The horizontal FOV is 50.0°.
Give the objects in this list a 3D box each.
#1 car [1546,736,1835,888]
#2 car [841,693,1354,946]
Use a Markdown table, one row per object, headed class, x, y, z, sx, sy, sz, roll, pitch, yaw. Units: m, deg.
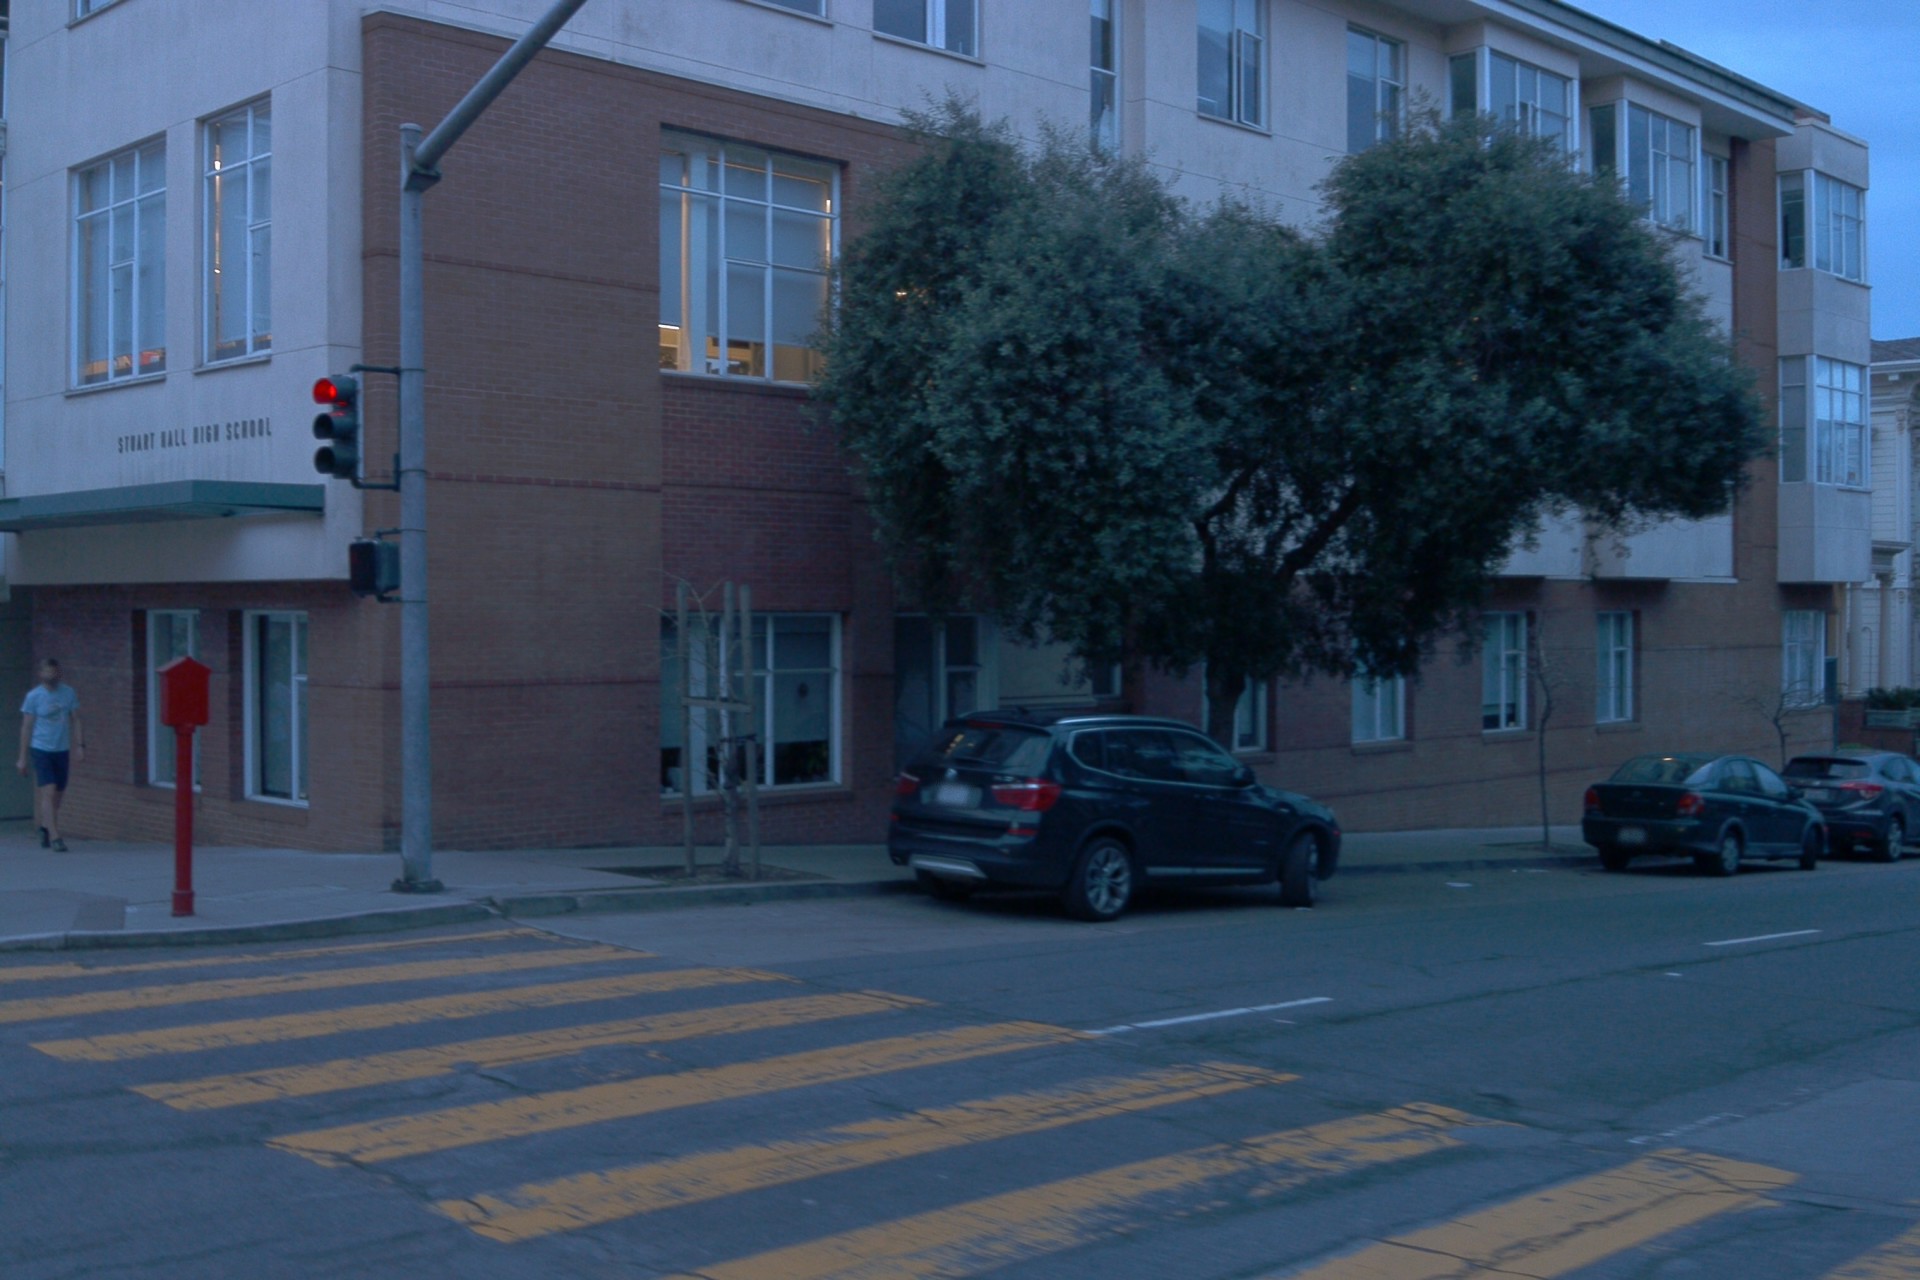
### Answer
| class | x | y | z | sx | sy | sz | roll | pitch | yaw |
| --- | --- | --- | --- | --- | --- | --- | --- | --- | --- |
| car | 9.284 | 2.102 | 26.019 | 3.956 | 1.560 | 1.886 | 0 | 1 | -44 |
| car | 1.317 | 1.425 | 17.977 | 2.050 | 1.780 | 4.500 | 1 | 1 | 44 |
